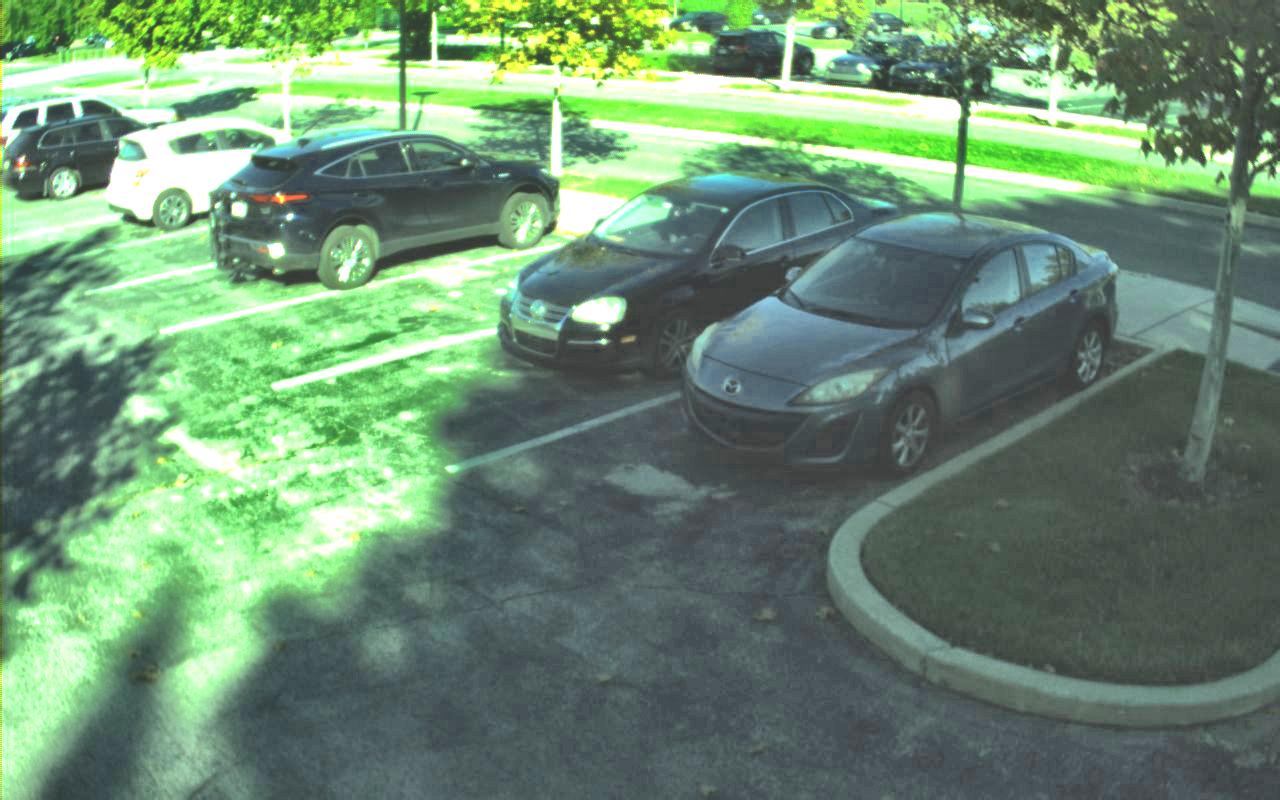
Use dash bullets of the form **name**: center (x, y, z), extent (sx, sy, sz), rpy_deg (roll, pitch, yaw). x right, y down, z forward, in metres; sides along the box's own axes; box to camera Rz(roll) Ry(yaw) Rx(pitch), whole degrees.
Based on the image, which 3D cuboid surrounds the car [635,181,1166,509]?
- **car**: center (2.275, -0.692, 9.600), extent (4.435, 1.499, 1.899), rpy_deg (-15, 21, -38)

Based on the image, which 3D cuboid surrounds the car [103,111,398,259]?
- **car**: center (-6.242, -3.516, 19.093), extent (4.476, 1.697, 1.948), rpy_deg (-15, 21, -40)

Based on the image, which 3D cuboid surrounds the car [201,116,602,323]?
- **car**: center (-2.823, -2.353, 15.008), extent (1.992, 1.750, 4.660), rpy_deg (14, 22, 41)

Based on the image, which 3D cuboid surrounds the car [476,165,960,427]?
- **car**: center (0.902, -1.184, 11.789), extent (4.476, 1.551, 1.930), rpy_deg (-15, 21, -38)
